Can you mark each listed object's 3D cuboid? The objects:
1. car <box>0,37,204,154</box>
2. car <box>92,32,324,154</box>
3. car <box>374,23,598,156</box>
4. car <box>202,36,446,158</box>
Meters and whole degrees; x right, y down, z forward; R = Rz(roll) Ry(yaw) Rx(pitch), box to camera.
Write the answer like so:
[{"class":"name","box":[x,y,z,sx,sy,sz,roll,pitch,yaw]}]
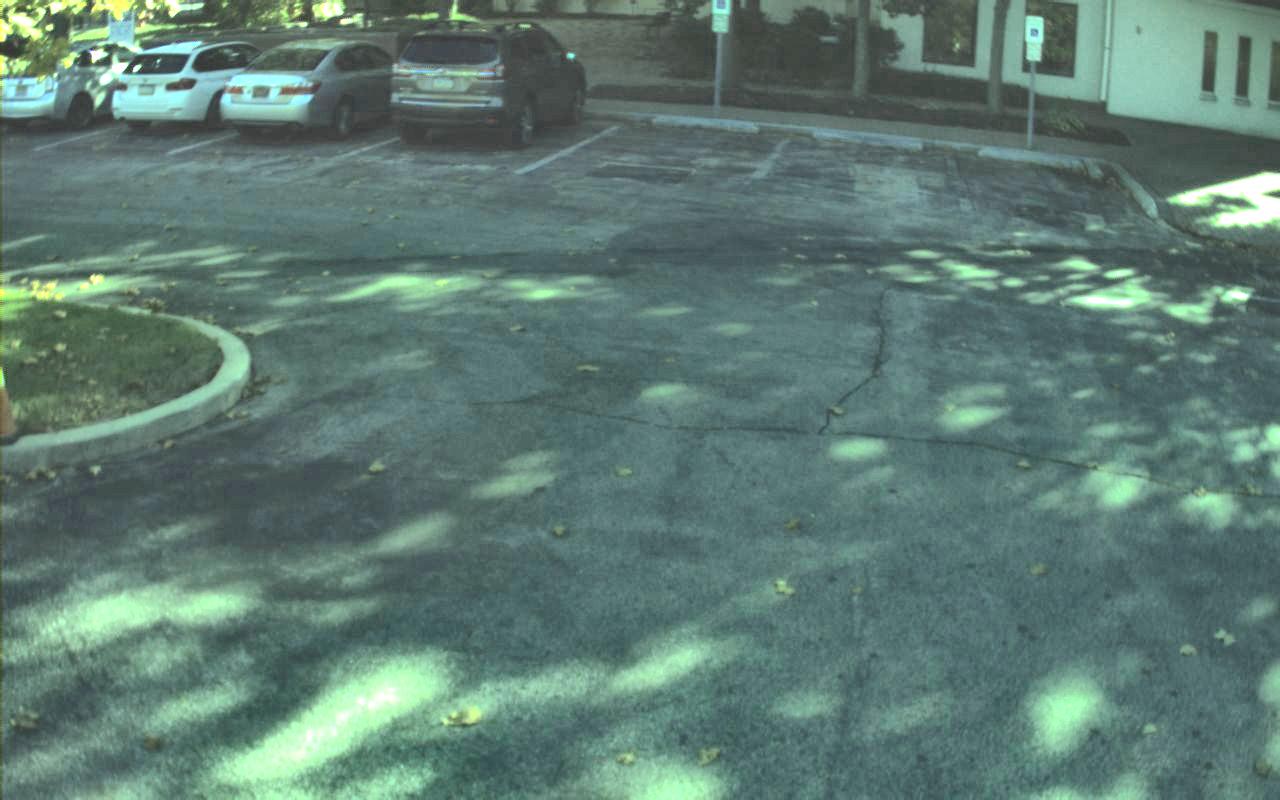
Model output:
[{"class":"car","box":[-9.947,-5.540,20.511,1.949,1.602,4.540,3,17,15]},{"class":"car","box":[-7.240,-5.243,19.865,1.923,1.623,4.439,3,17,14]},{"class":"car","box":[-2.169,-4.805,18.629,2.012,1.710,4.766,2,17,11]},{"class":"car","box":[-4.844,-4.810,18.884,1.896,1.531,4.433,4,17,16]}]
